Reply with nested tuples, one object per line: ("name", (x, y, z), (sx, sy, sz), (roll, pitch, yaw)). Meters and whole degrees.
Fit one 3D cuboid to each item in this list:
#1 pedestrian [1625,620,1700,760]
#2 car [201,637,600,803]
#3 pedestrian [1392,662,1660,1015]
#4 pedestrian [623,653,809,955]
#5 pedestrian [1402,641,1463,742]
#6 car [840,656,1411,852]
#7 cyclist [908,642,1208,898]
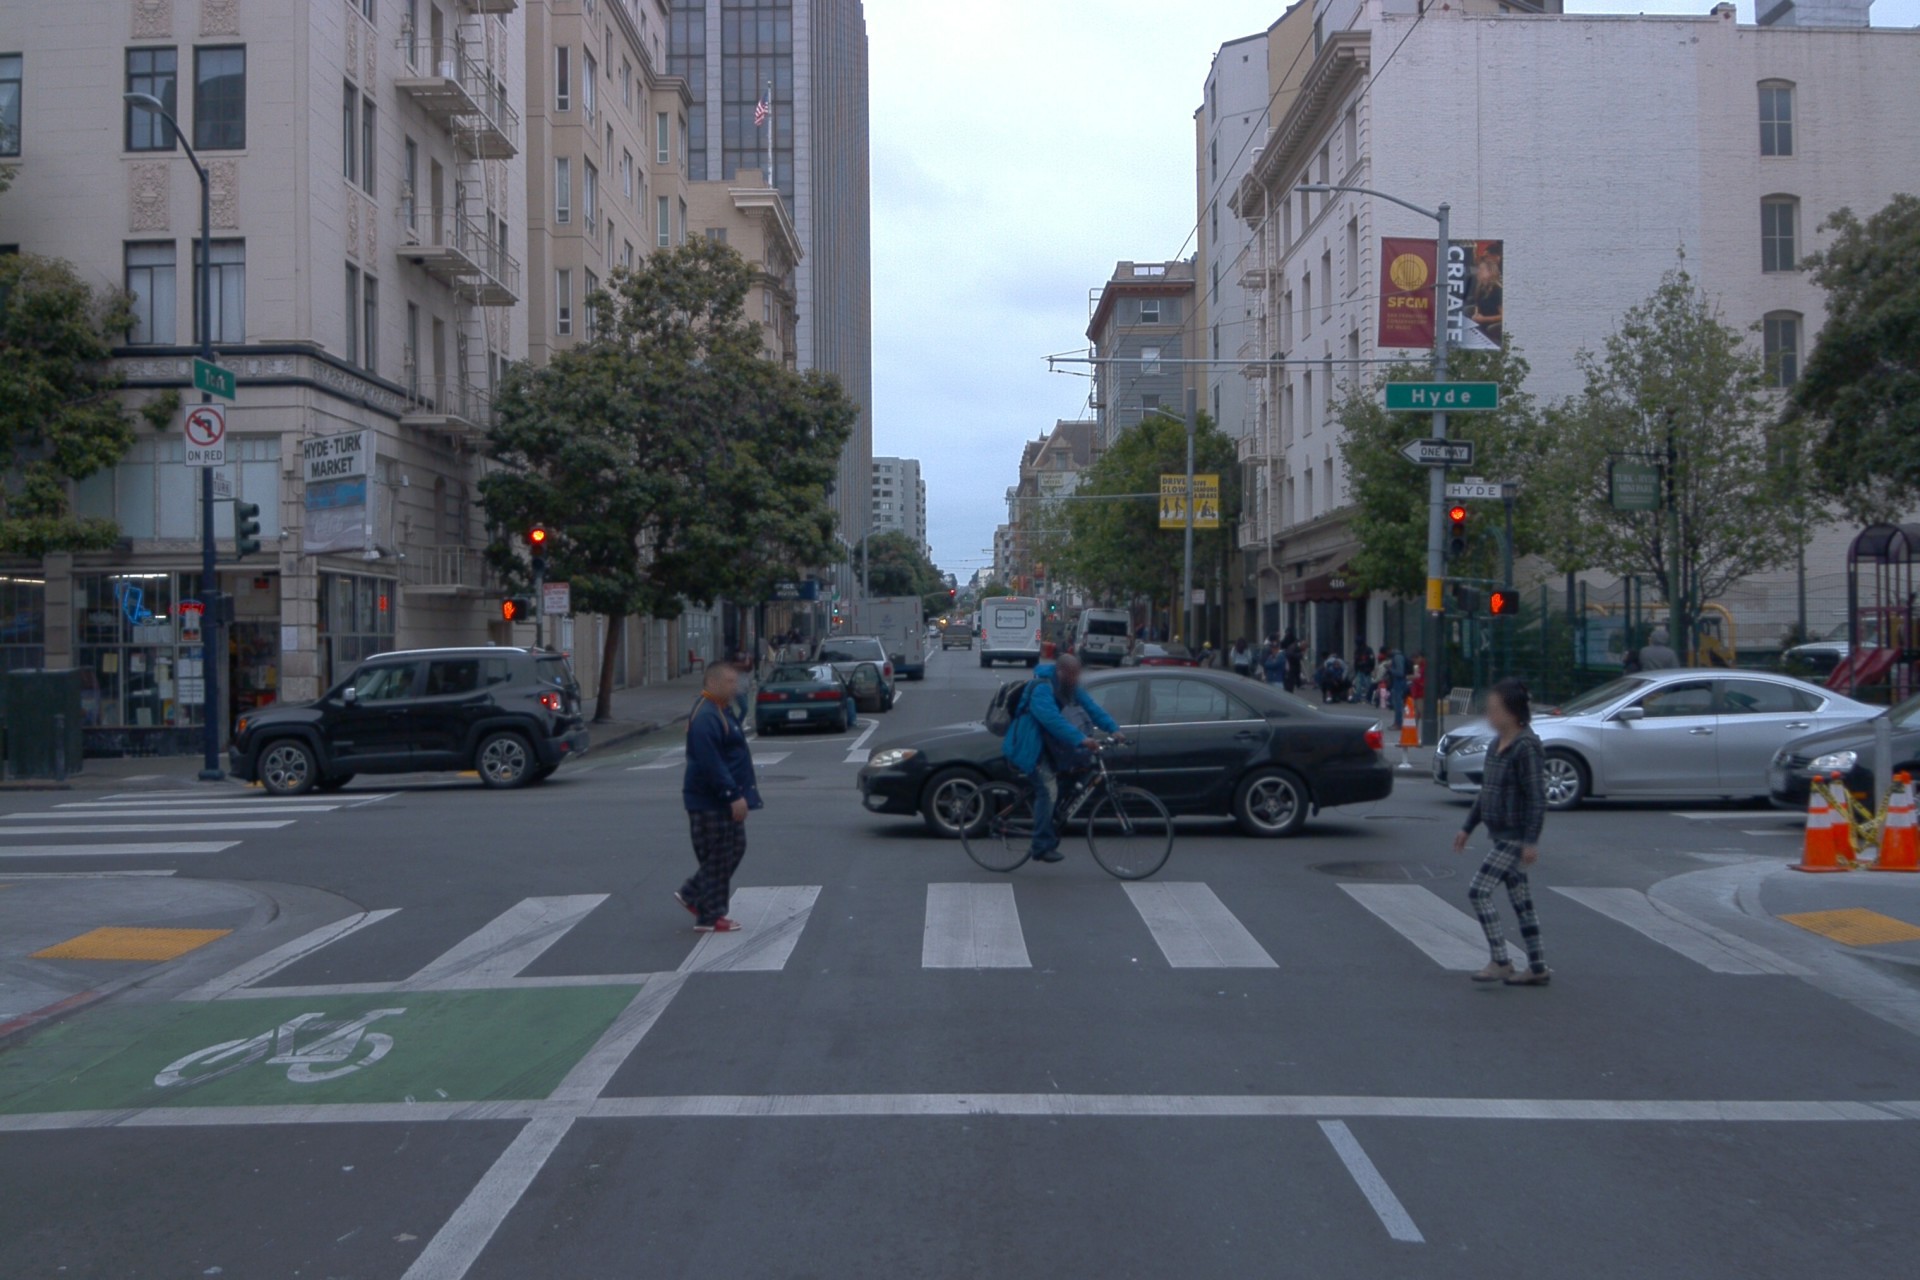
("pedestrian", (10.296, 0.717, 30.125), (0.836, 2.010, 0.795), (0, 1, 36))
("car", (-6.620, 0.920, 24.664), (4.251, 1.870, 1.916), (0, 1, 1))
("pedestrian", (2.985, 1.012, 10.952), (1.094, 1.760, 0.987), (0, 1, -5))
("pedestrian", (-1.505, 0.994, 12.855), (1.035, 1.800, 0.907), (0, 1, 1))
("pedestrian", (7.701, 0.828, 33.575), (0.906, 1.620, 0.868), (0, 1, 9))
("car", (1.416, 0.979, 18.456), (4.826, 1.600, 2.060), (0, 1, 2))
("cyclist", (0.718, 0.904, 15.167), (1.970, 1.750, 1.003), (0, 1, 30))
